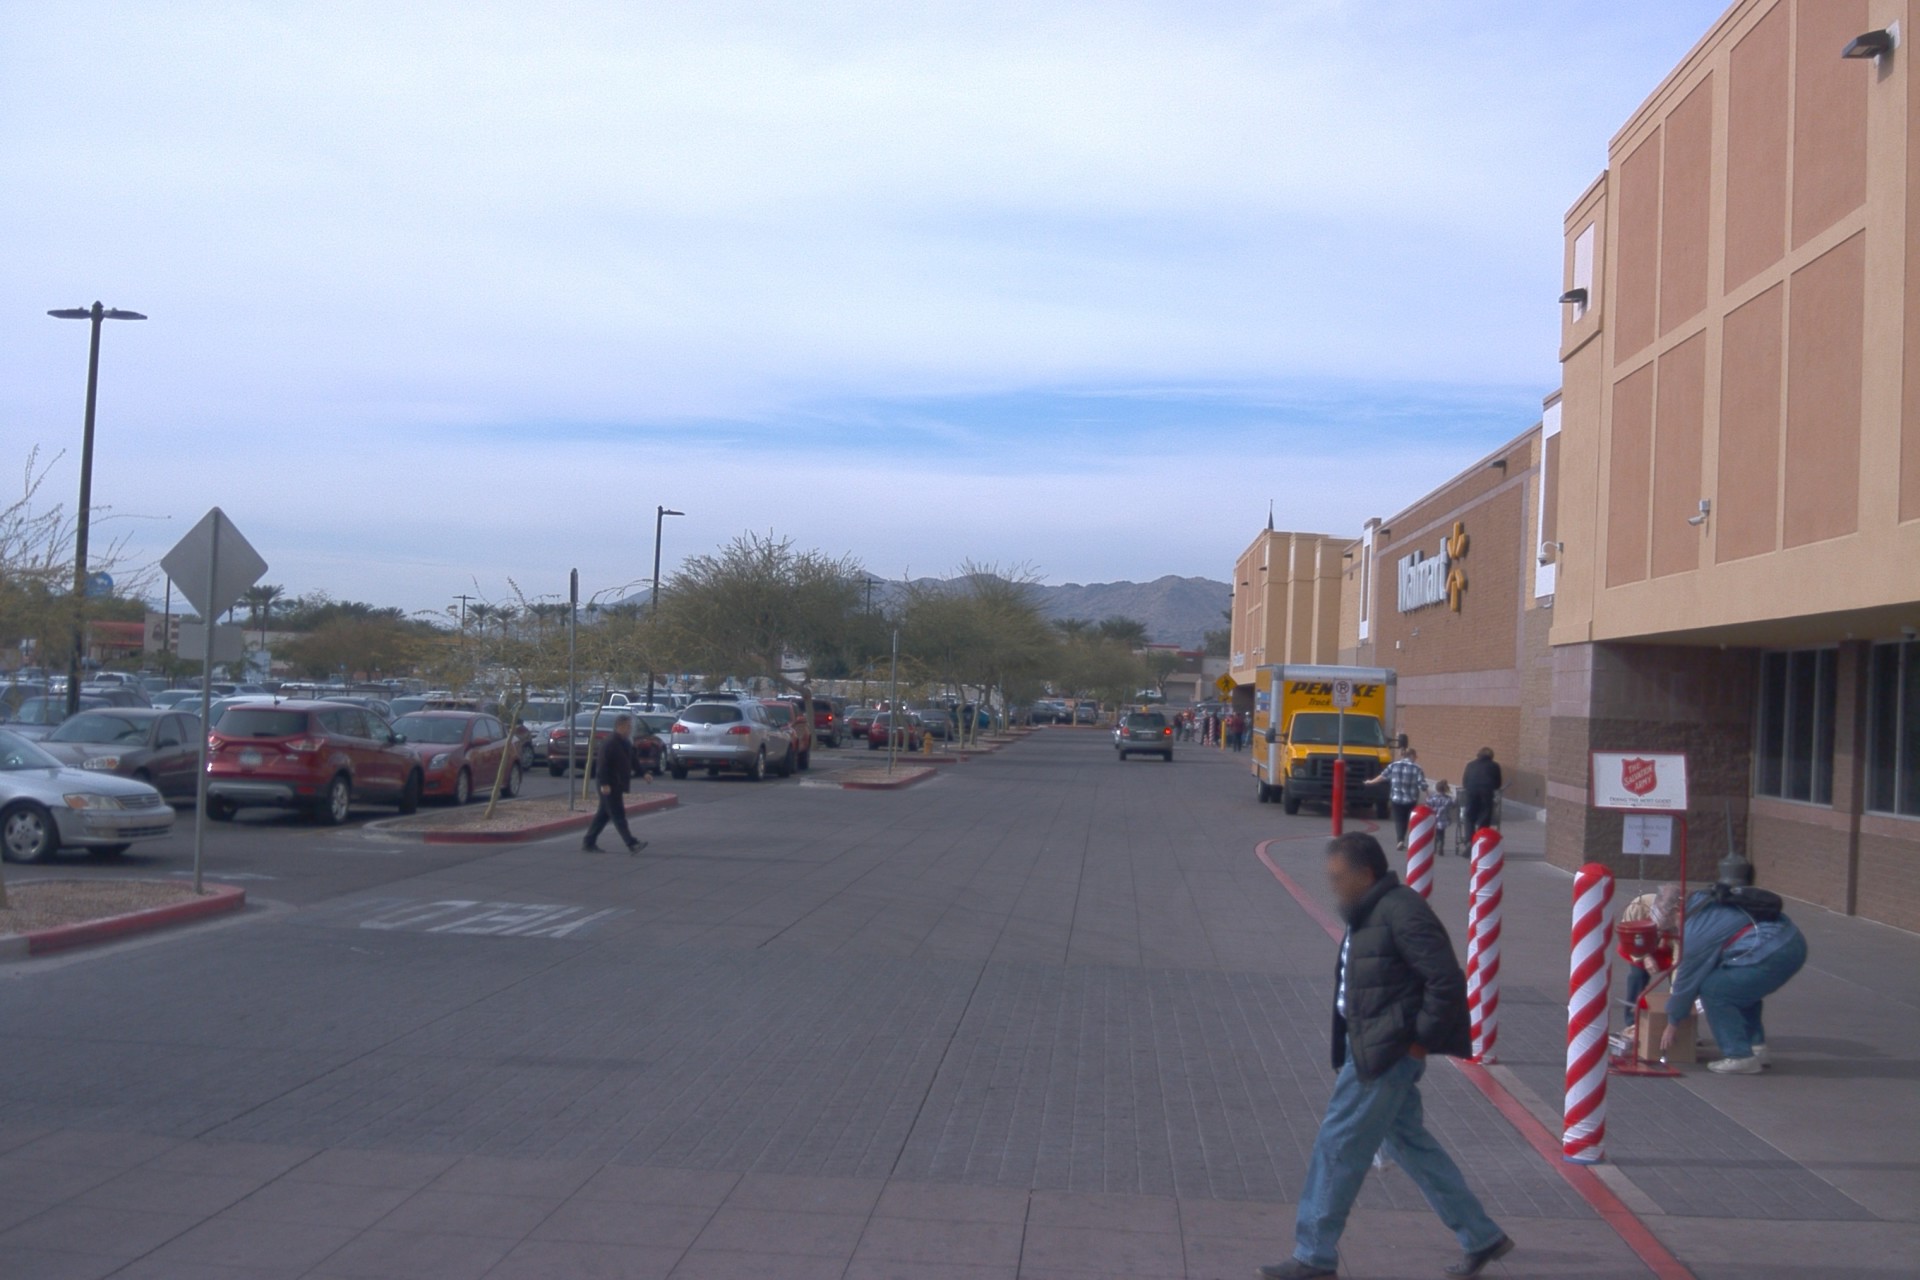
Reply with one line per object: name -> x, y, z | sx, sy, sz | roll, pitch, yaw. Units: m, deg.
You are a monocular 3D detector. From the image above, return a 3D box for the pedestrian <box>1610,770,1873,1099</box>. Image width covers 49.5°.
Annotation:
pedestrian -> 4.720, 1.747, 12.649 | 1.116, 1.860, 1.044 | 1, -1, -9

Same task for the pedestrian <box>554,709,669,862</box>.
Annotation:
pedestrian -> -4.155, 1.718, 24.917 | 0.998, 1.760, 1.002 | 1, -2, 13

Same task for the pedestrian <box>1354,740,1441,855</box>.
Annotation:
pedestrian -> 6.491, 2.328, 31.012 | 1.124, 1.630, 1.170 | 1, -1, 5

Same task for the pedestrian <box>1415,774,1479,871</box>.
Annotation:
pedestrian -> 7.089, 2.633, 30.296 | 0.821, 1.330, 0.942 | 1, -2, 17

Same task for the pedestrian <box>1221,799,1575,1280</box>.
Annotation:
pedestrian -> 1.559, 1.492, 7.594 | 1.001, 1.760, 0.999 | 1, -1, -5

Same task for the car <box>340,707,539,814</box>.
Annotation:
car -> -8.512, 1.935, 34.475 | 1.906, 1.600, 4.184 | 1, -2, 4

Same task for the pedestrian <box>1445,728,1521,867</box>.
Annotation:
pedestrian -> 7.471, 2.221, 29.730 | 0.938, 1.900, 1.328 | 1, -2, 18

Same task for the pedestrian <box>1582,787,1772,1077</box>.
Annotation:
pedestrian -> 4.561, 1.828, 13.342 | 1.005, 1.700, 1.026 | 1, -1, 11

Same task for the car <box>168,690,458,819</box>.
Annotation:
car -> -8.978, 1.554, 29.430 | 2.115, 1.630, 4.730 | 1, -2, 7
